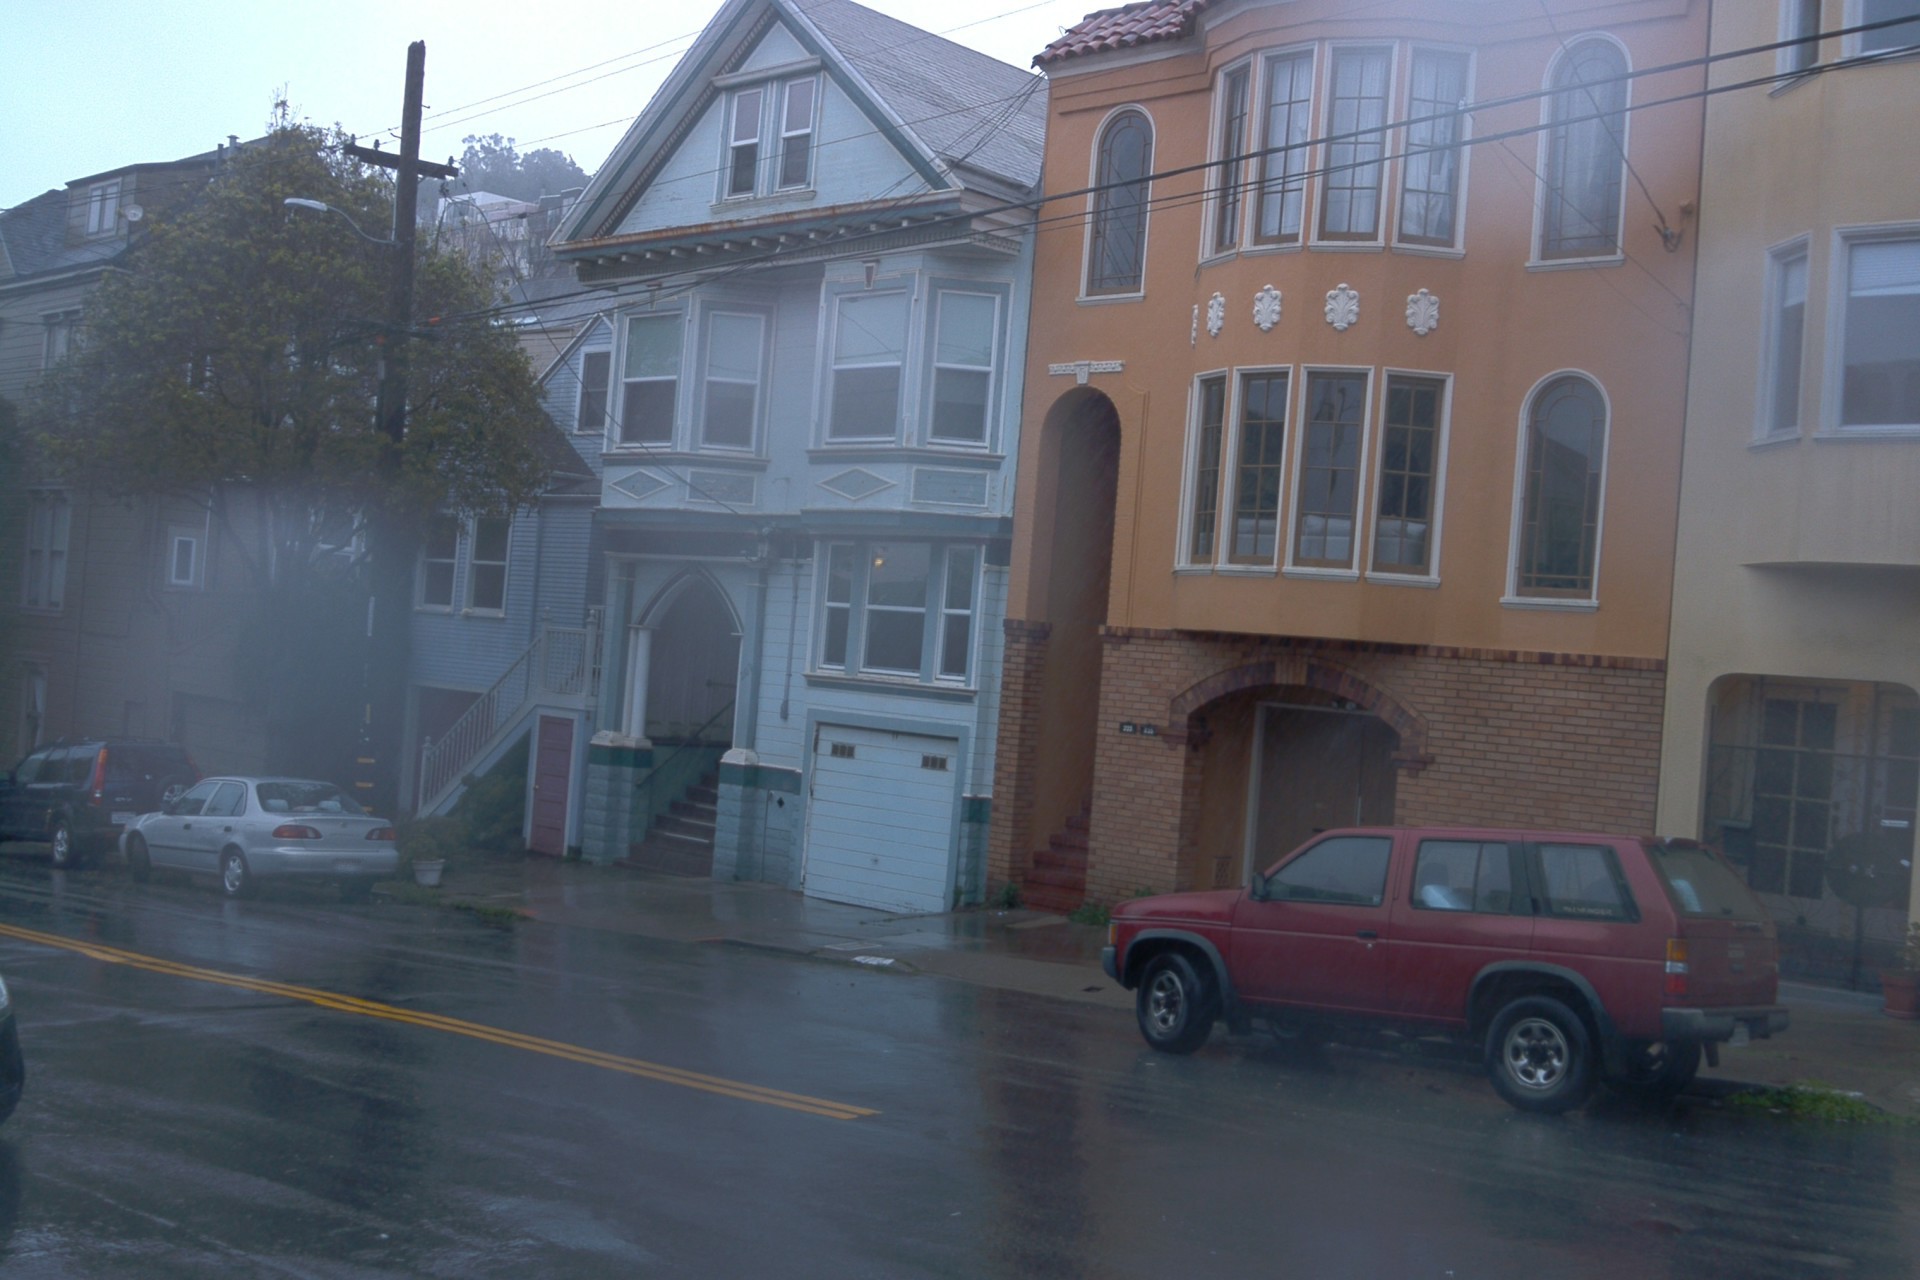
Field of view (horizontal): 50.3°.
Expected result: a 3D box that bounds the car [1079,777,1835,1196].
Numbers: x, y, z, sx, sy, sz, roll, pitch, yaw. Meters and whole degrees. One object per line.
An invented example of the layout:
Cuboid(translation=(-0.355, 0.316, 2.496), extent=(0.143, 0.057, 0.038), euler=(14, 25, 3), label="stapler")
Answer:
Cuboid(translation=(3.095, 2.036, 13.358), extent=(4.381, 1.930, 1.952), euler=(1, 1, 43), label="car")

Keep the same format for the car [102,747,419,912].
Cuboid(translation=(-8.217, 2.123, 23.848), extent=(4.248, 1.490, 1.679), euler=(1, 1, 43), label="car")
